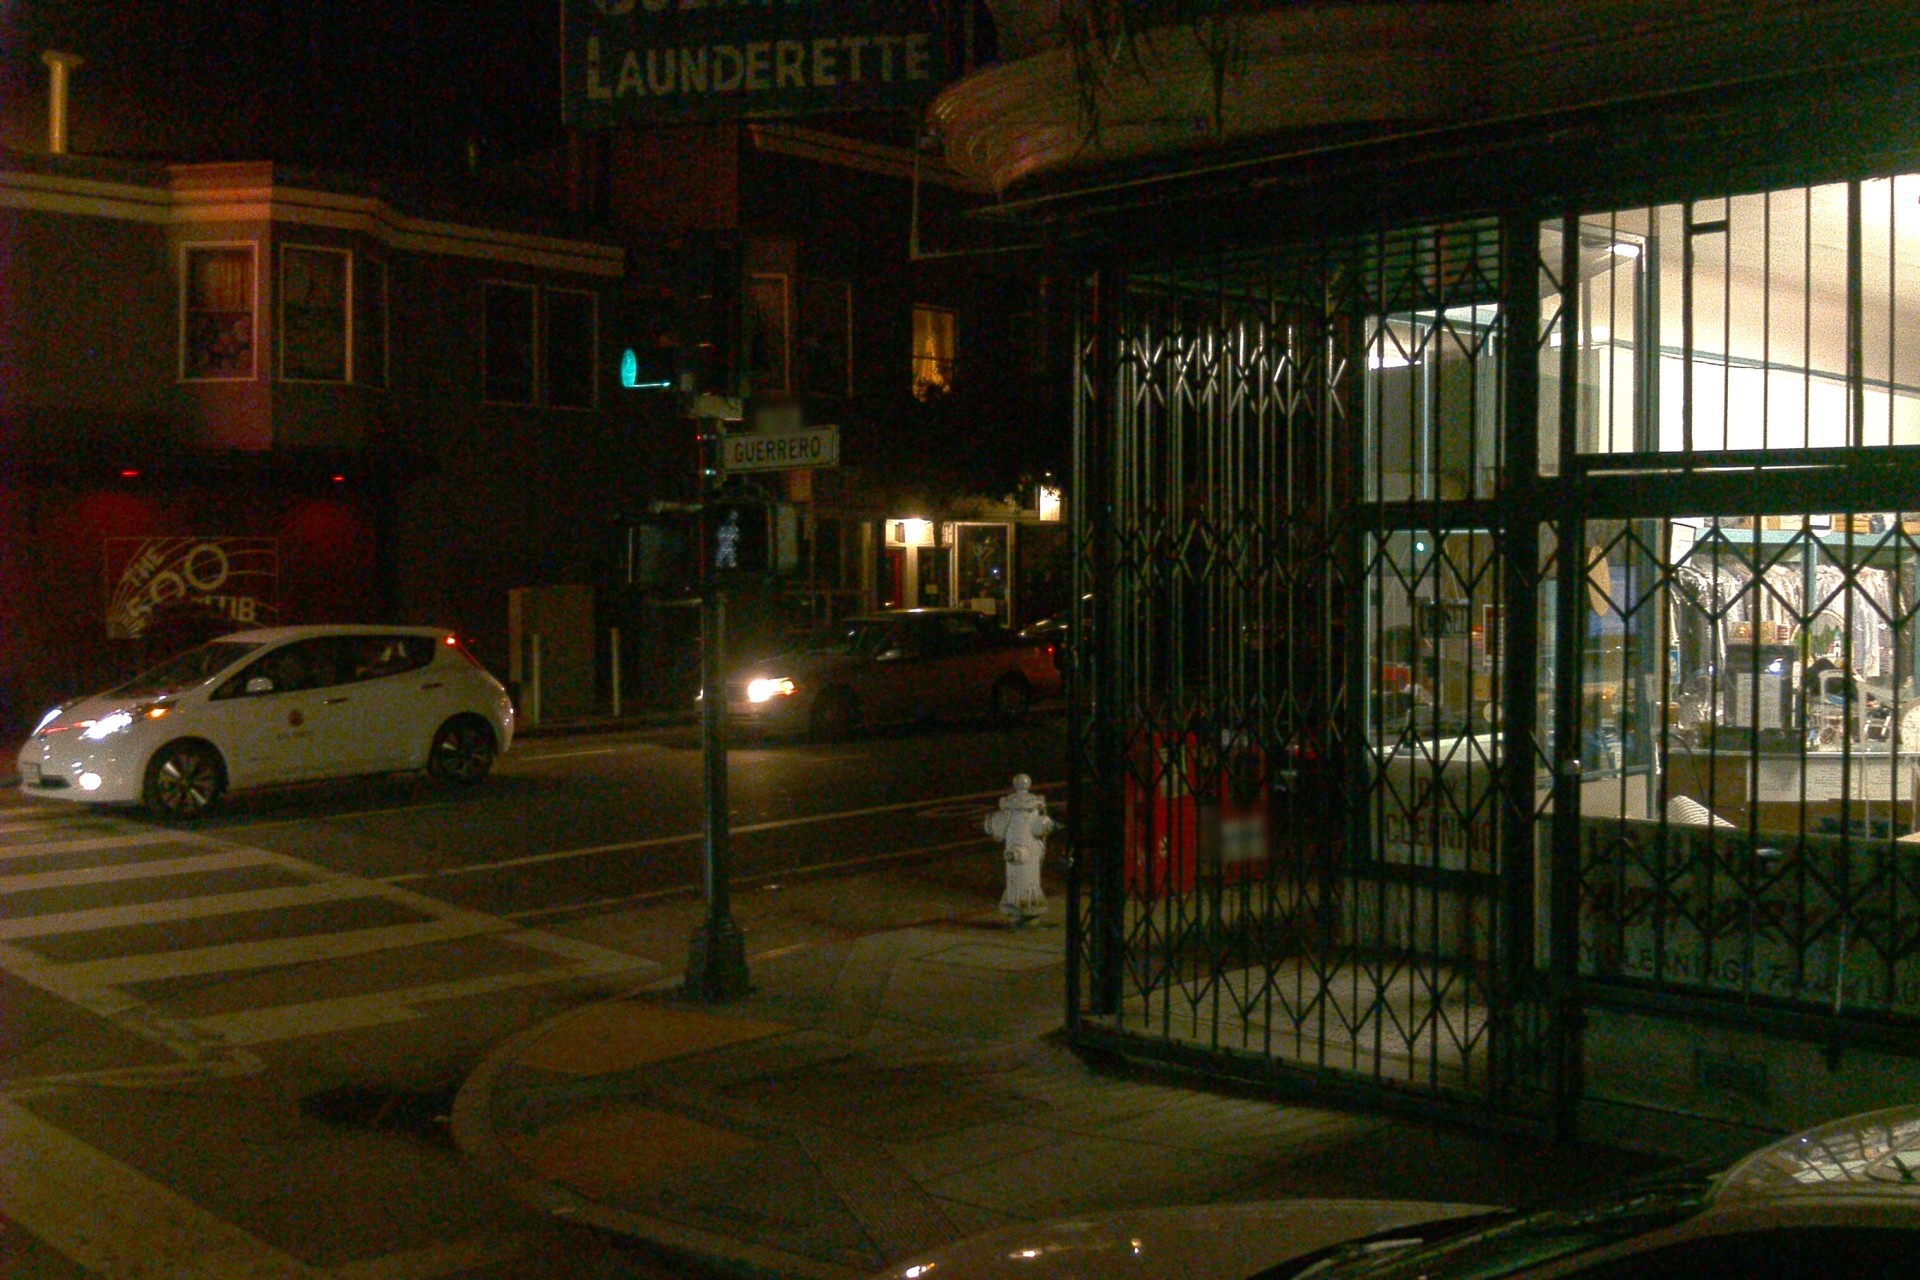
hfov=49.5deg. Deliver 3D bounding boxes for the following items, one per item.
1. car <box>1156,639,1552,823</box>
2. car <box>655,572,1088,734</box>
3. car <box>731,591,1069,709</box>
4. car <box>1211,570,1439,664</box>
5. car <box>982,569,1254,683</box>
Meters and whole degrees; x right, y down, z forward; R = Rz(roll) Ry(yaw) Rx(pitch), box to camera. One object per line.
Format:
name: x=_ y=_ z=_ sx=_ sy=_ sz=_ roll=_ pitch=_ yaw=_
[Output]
car: x=3.492 y=0.734 z=18.118 sx=3.504 sy=1.420 sz=1.655 roll=1 pitch=0 yaw=-45
car: x=-0.959 y=0.157 z=24.522 sx=4.809 sy=1.720 sz=2.142 roll=1 pitch=0 yaw=-42
car: x=-0.766 y=0.150 z=29.954 sx=1.884 sy=1.550 sz=4.981 roll=1 pitch=0 yaw=43
car: x=6.566 y=-0.383 z=37.125 sx=1.924 sy=1.570 sz=4.226 roll=1 pitch=0 yaw=45
car: x=2.588 y=-0.194 z=33.315 sx=1.991 sy=1.690 sz=4.349 roll=1 pitch=0 yaw=44
